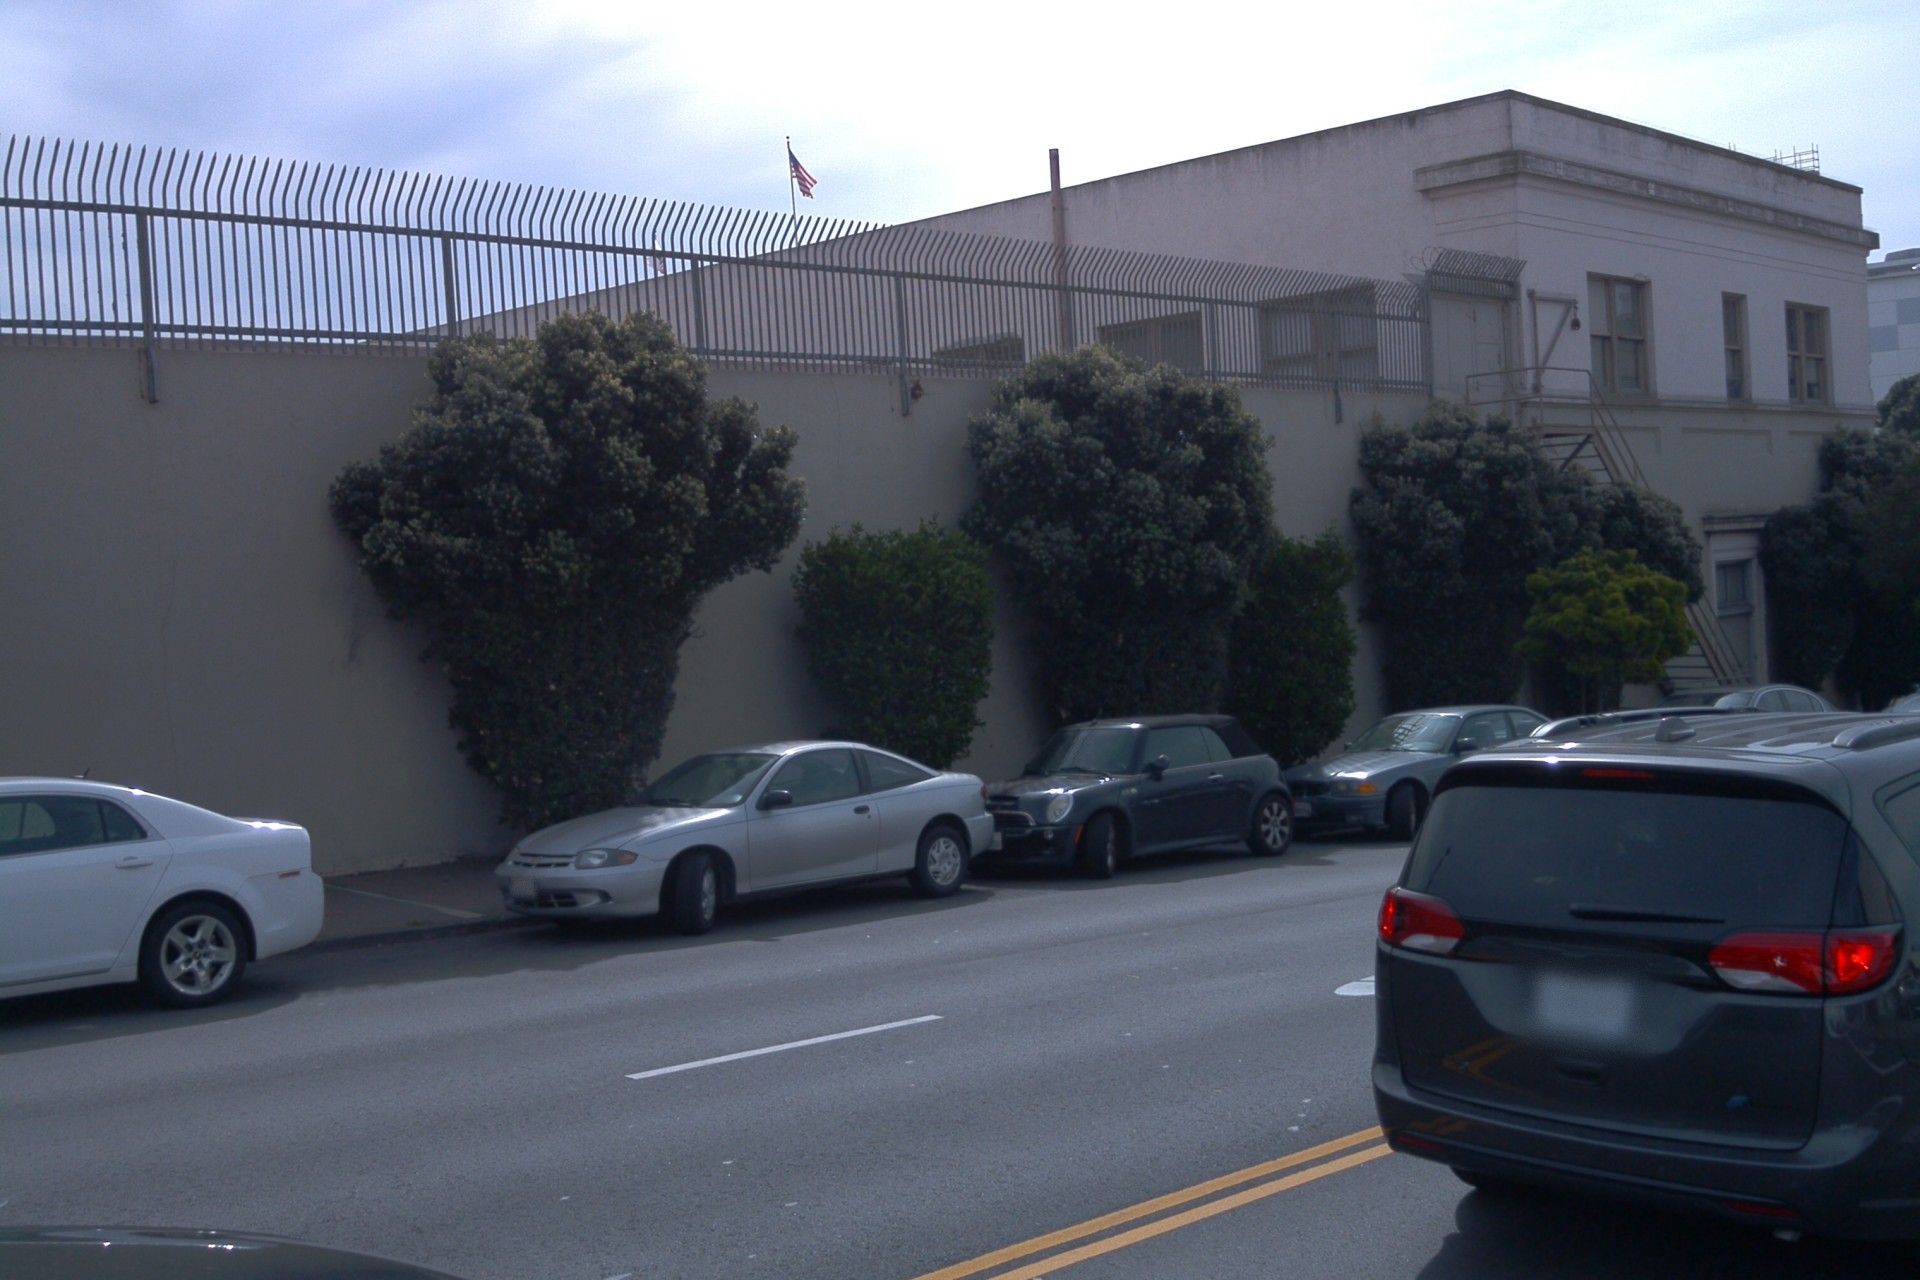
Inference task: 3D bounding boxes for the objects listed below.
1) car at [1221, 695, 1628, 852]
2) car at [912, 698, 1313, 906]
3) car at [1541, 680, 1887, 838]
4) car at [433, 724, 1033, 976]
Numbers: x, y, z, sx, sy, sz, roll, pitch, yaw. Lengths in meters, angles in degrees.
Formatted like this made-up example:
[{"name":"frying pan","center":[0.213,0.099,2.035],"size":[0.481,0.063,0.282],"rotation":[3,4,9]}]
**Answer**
[{"name":"car","center":[5.196,1.392,22.755],"size":[4.448,1.390,2.035],"rotation":[-1,1,-38]},{"name":"car","center":[1.513,1.437,19.478],"size":[1.796,1.600,3.729],"rotation":[1,1,45]},{"name":"car","center":[9.578,1.418,25.963],"size":[4.687,1.660,2.019],"rotation":[-1,1,-40]},{"name":"car","center":[-1.685,1.553,16.608],"size":[1.978,1.480,4.651],"rotation":[1,1,43]}]
